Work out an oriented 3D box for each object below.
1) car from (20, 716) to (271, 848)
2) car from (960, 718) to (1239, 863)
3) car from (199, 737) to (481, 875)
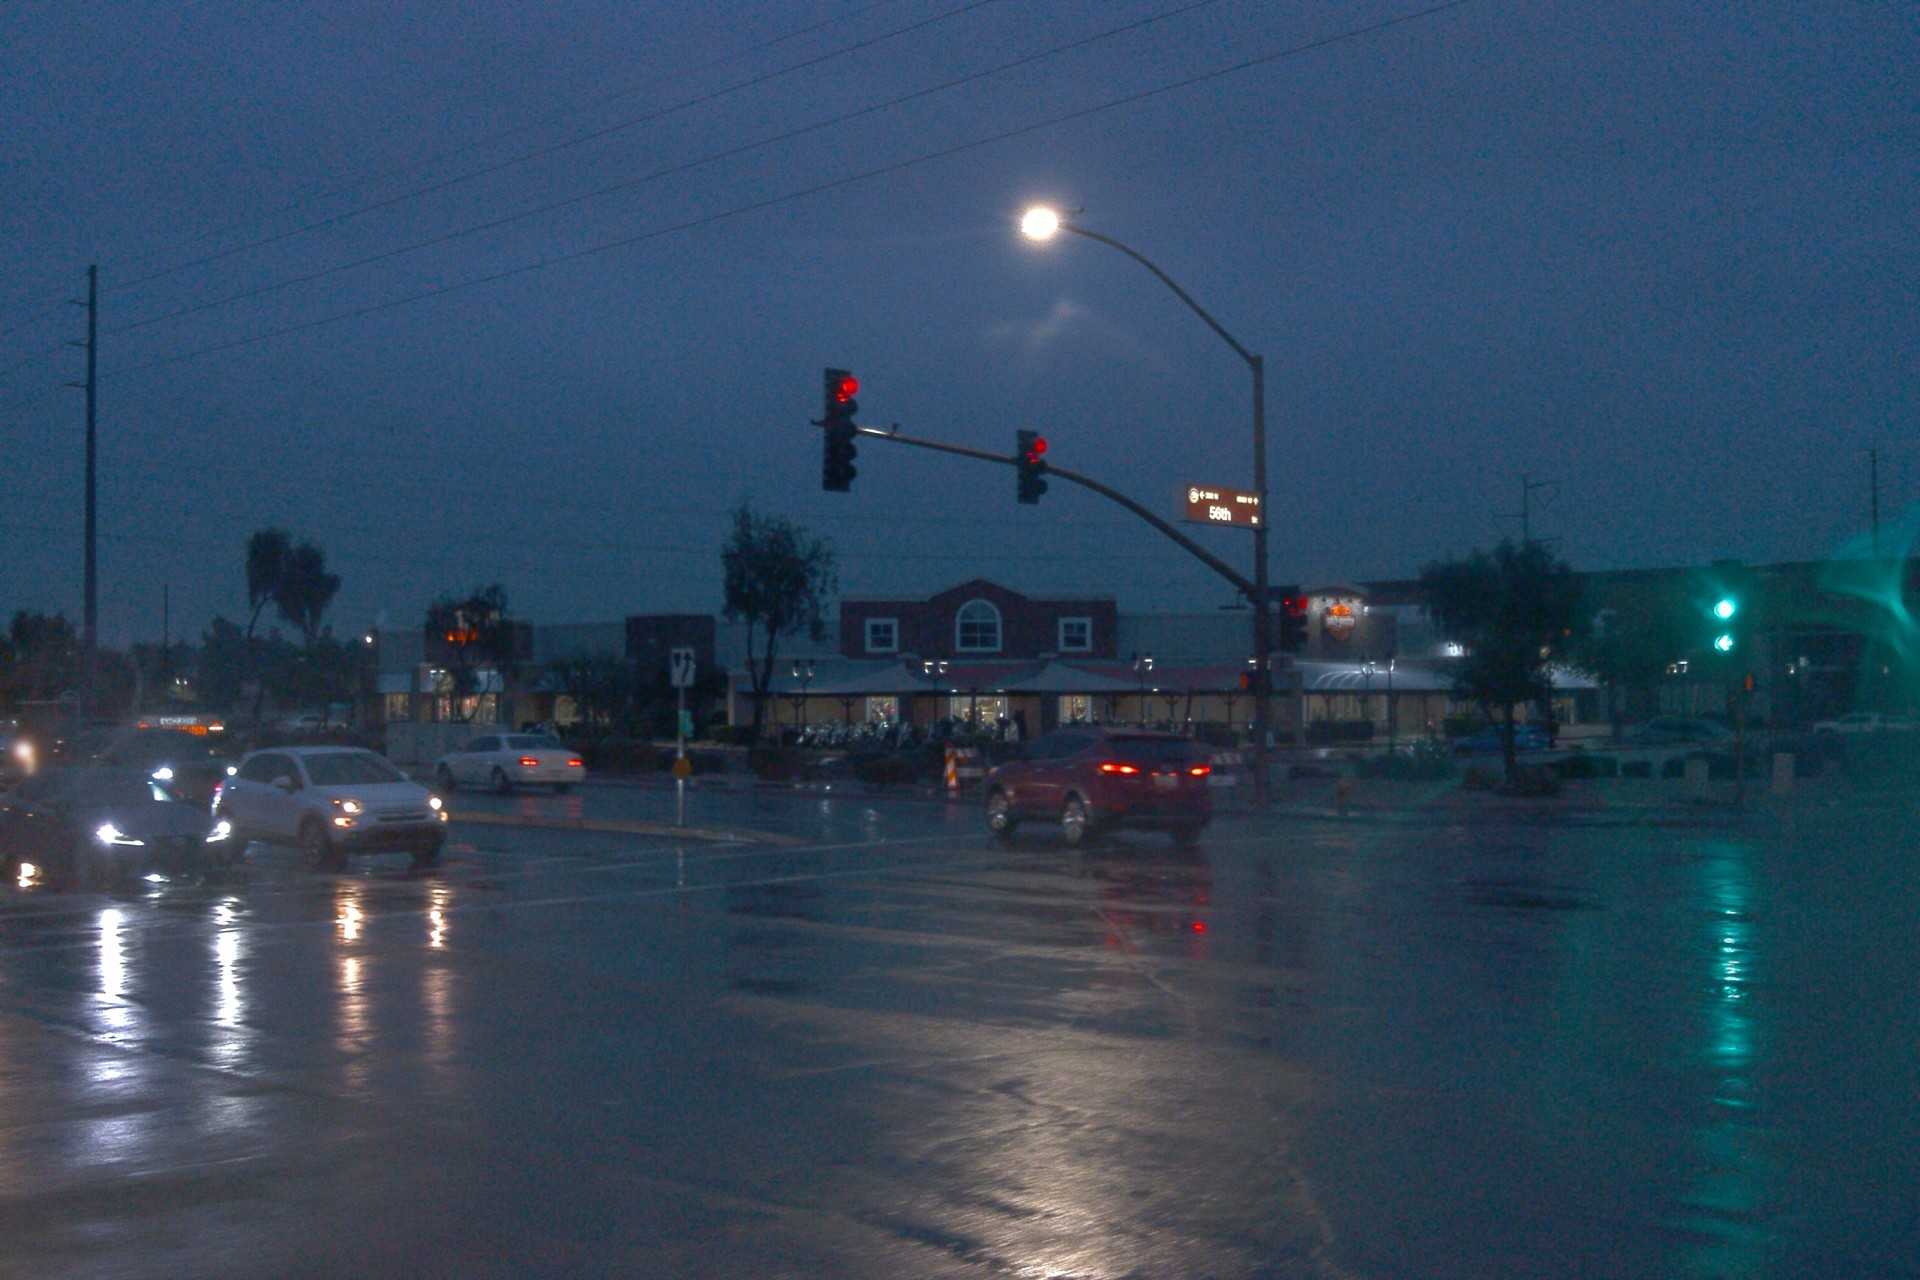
[{"bbox_3d":[-13.564,2.272,34.528,2.091,1.900,5.133,1,-1,-43],"label":"car"},{"bbox_3d":[1.937,2.130,30.706,2.271,1.820,4.653,0,-1,-23],"label":"car"},{"bbox_3d":[-8.779,2.263,29.332,2.095,1.630,4.278,1,-1,-43],"label":"car"}]
